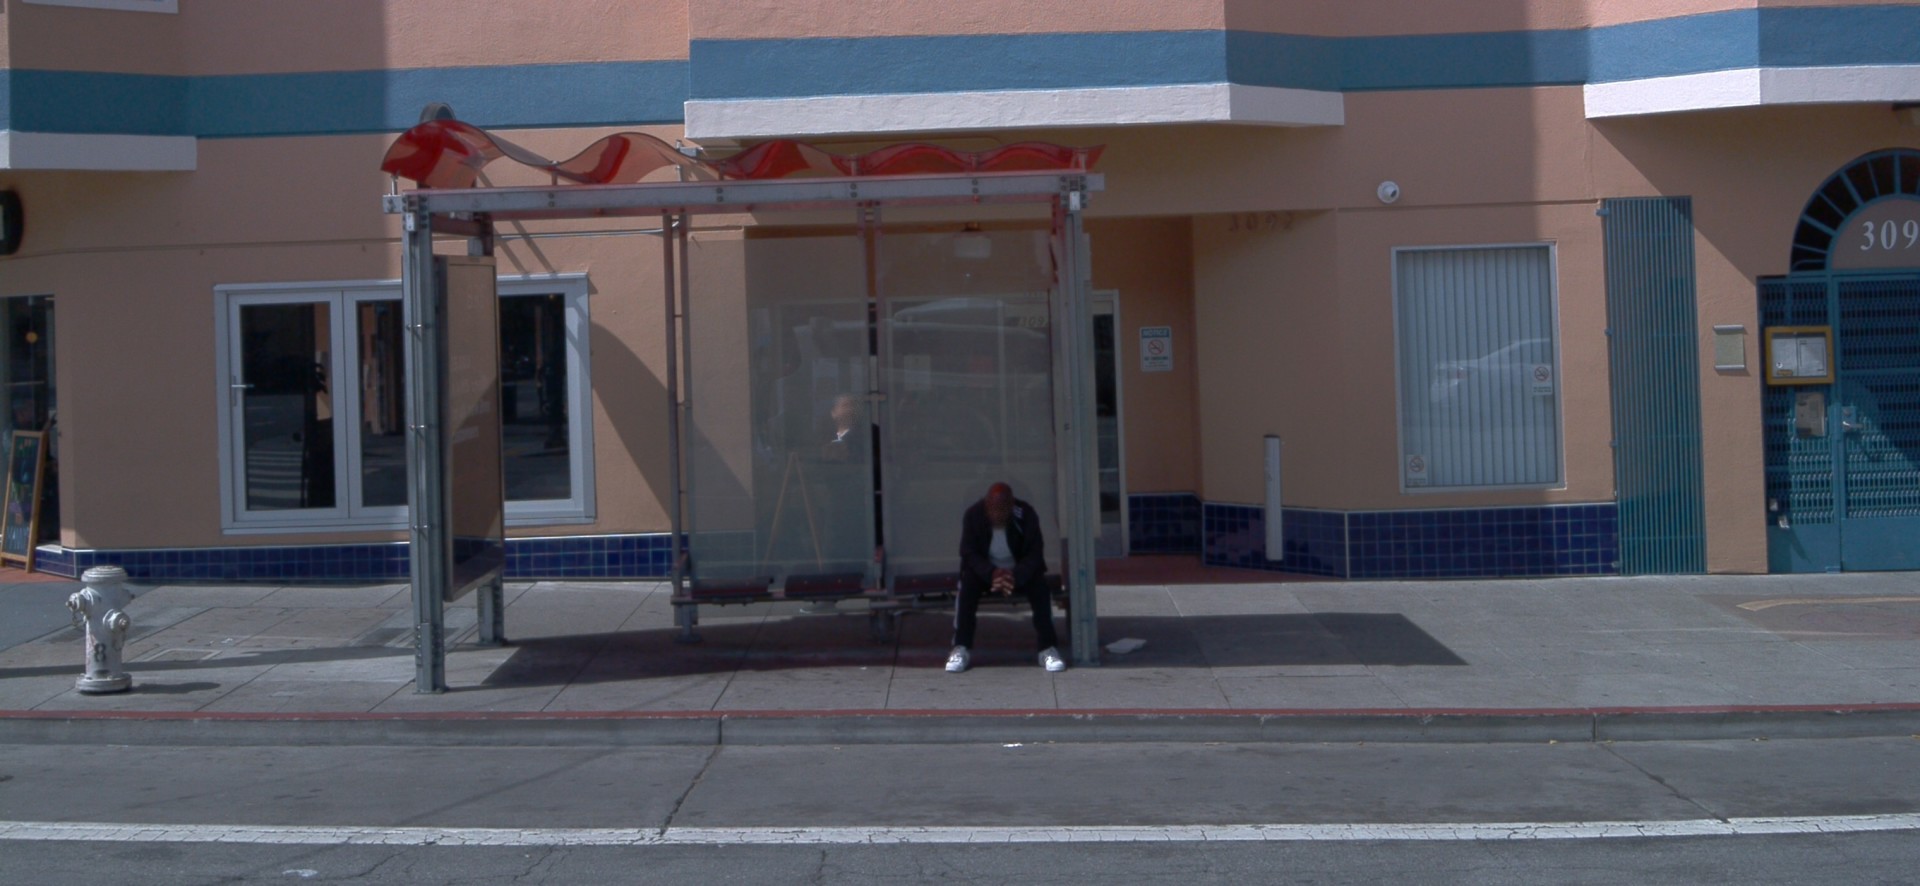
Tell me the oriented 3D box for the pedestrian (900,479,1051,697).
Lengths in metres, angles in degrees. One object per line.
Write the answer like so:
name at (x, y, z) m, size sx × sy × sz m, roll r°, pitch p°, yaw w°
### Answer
pedestrian at (0.083, 0.815, 11.905) m, size 0.830 × 1.097 × 0.832 m, roll -1°, pitch 3°, yaw -1°

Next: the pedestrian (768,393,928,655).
pedestrian at (-0.730, 0.494, 13.336) m, size 0.982 × 1.547 × 0.841 m, roll -1°, pitch 2°, yaw -4°
